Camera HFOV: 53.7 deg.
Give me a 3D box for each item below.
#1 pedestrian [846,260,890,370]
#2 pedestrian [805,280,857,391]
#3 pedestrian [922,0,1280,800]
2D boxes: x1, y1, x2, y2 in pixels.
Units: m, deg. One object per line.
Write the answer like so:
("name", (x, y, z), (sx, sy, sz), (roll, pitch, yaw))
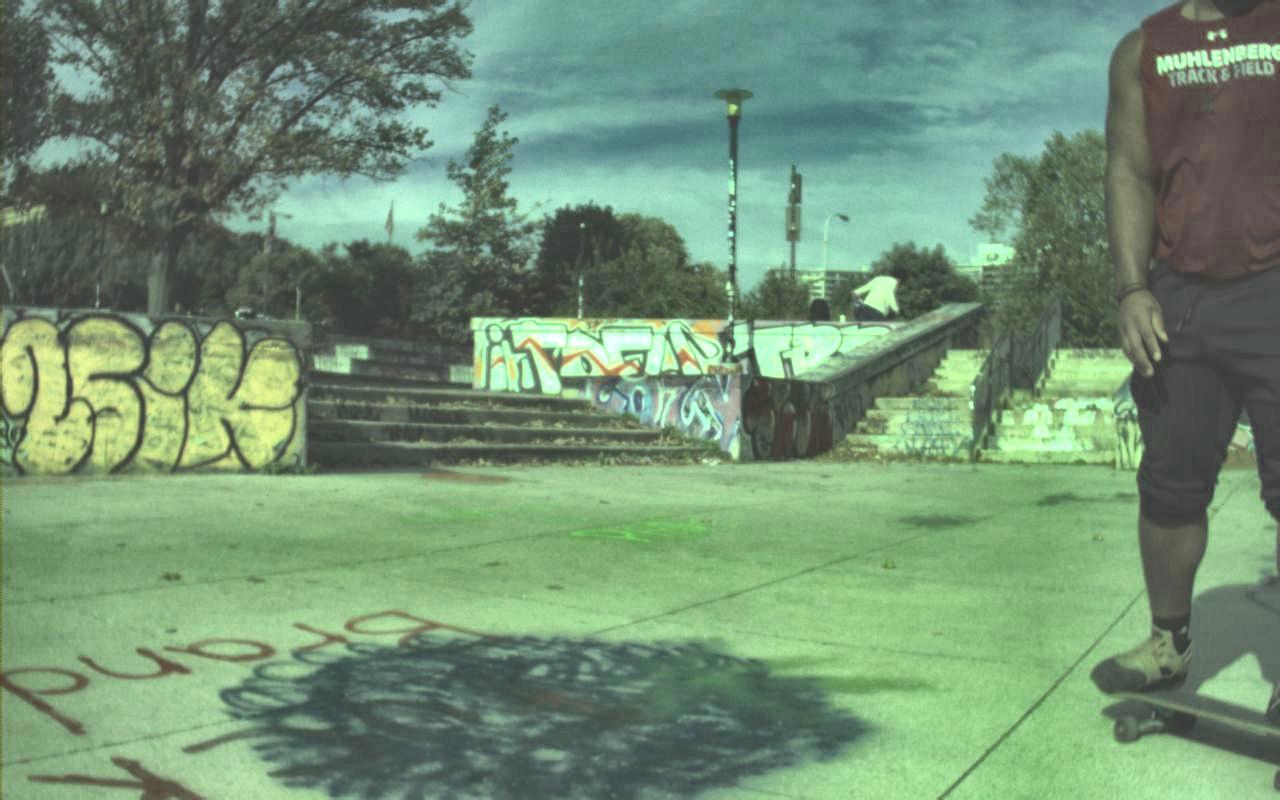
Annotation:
("pedestrian", (3.889, -1.430, 21.313), (0.743, 1.830, 0.744), (0, 0, 9))
("pedestrian", (3.225, -1.070, 21.248), (0.675, 1.844, 0.666), (0, 0, -14))
("pedestrian", (1.014, -0.202, 2.151), (0.790, 1.667, 0.876), (0, 0, -1))
